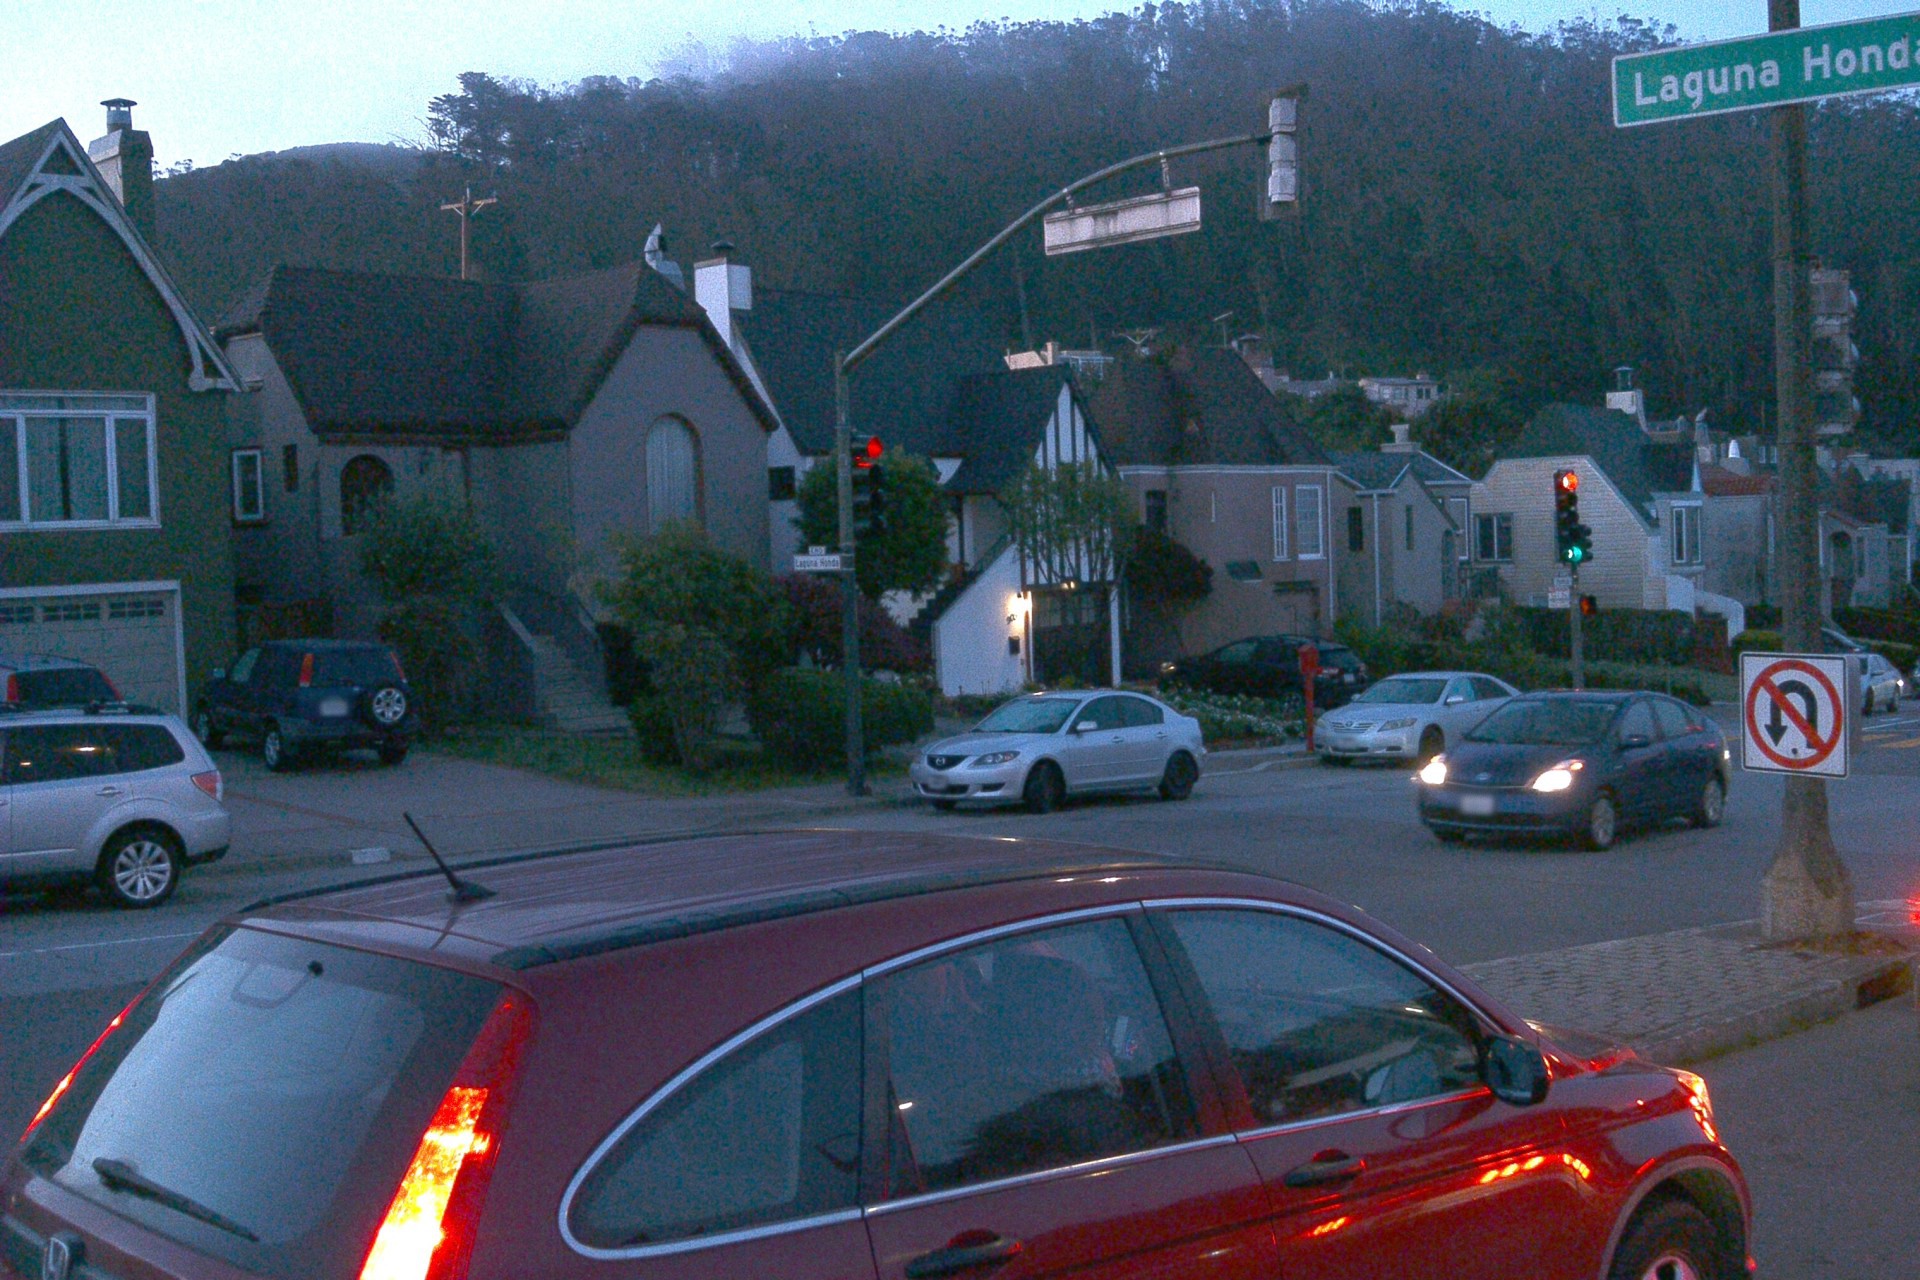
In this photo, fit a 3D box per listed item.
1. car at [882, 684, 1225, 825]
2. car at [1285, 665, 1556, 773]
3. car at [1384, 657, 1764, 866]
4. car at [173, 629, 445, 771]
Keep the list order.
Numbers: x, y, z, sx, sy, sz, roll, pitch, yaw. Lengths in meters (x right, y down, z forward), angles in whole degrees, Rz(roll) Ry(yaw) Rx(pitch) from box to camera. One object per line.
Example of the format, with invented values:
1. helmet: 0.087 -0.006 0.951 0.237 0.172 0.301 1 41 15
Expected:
1. car: 1.253 1.354 25.938 1.901 1.490 4.437 0 0 42
2. car: 7.475 1.206 33.345 2.119 1.530 4.797 0 0 43
3. car: 6.306 1.112 20.958 1.989 1.810 4.466 0 0 41
4. car: -8.841 0.747 27.939 2.020 1.750 4.316 0 0 -39
